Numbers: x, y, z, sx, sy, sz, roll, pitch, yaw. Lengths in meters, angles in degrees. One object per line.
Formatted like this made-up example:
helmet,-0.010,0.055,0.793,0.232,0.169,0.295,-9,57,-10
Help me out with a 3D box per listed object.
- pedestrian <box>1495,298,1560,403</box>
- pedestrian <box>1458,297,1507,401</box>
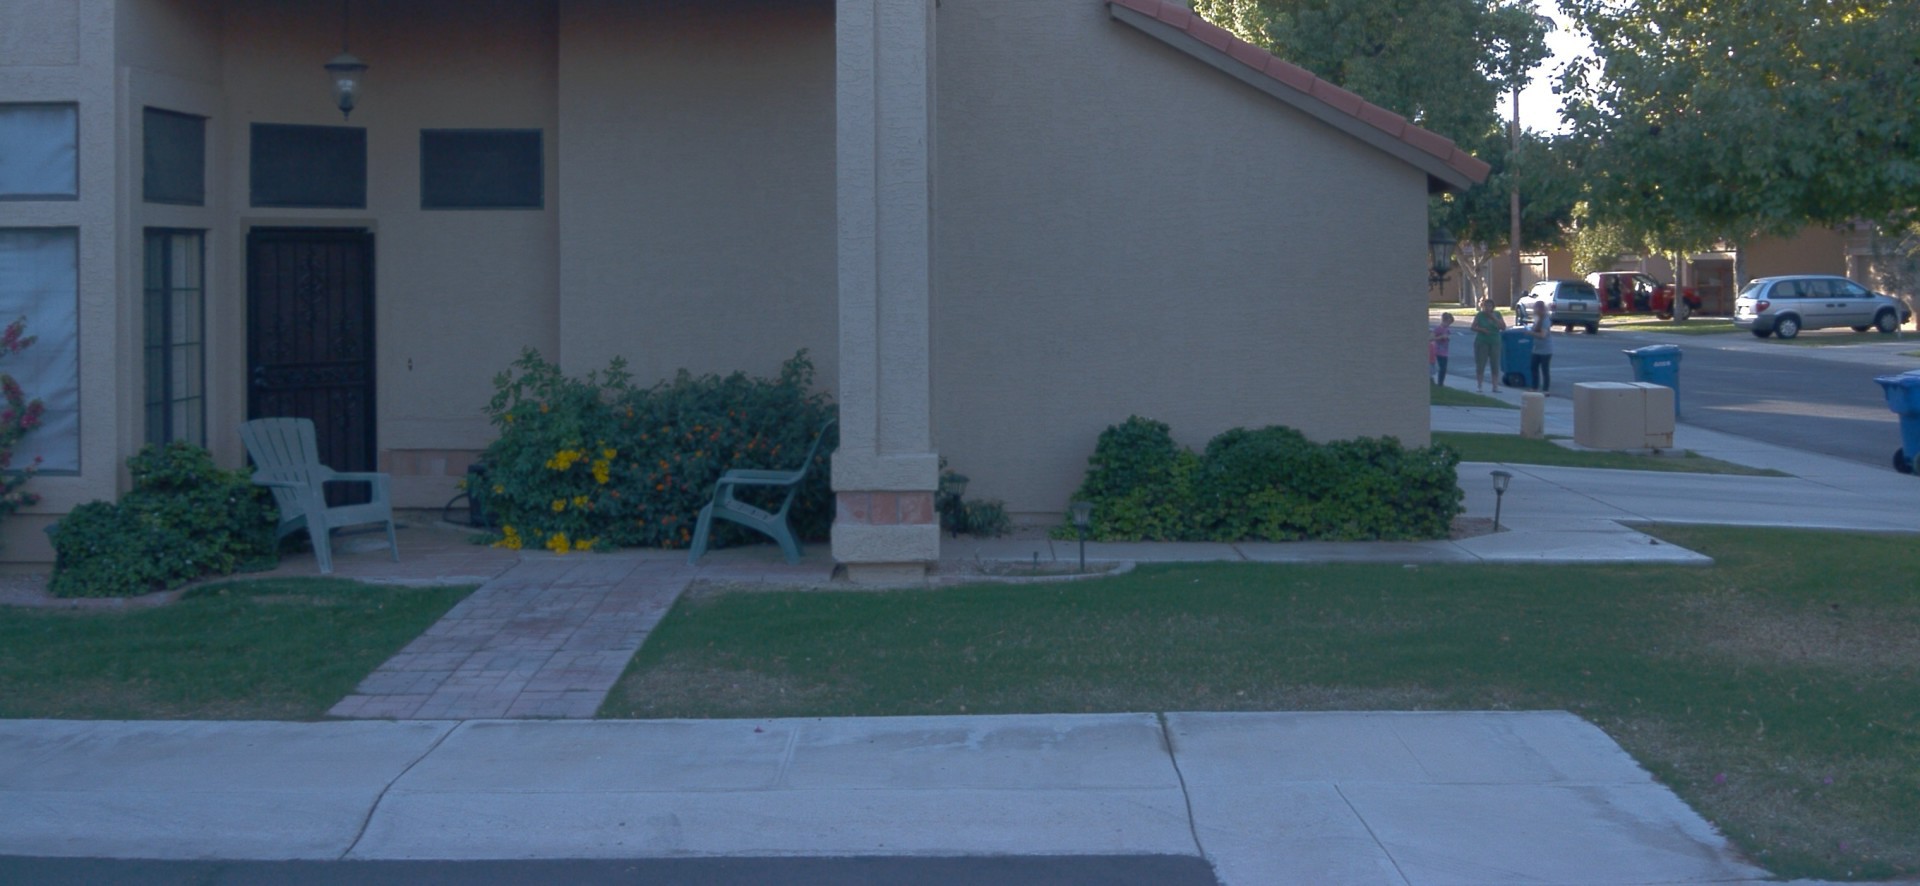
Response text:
pedestrian,9.246,-1.520,33.783,0.756,1.617,0.948,2,3,33
pedestrian,8.793,-1.587,34.907,0.775,1.687,0.750,1,2,15
